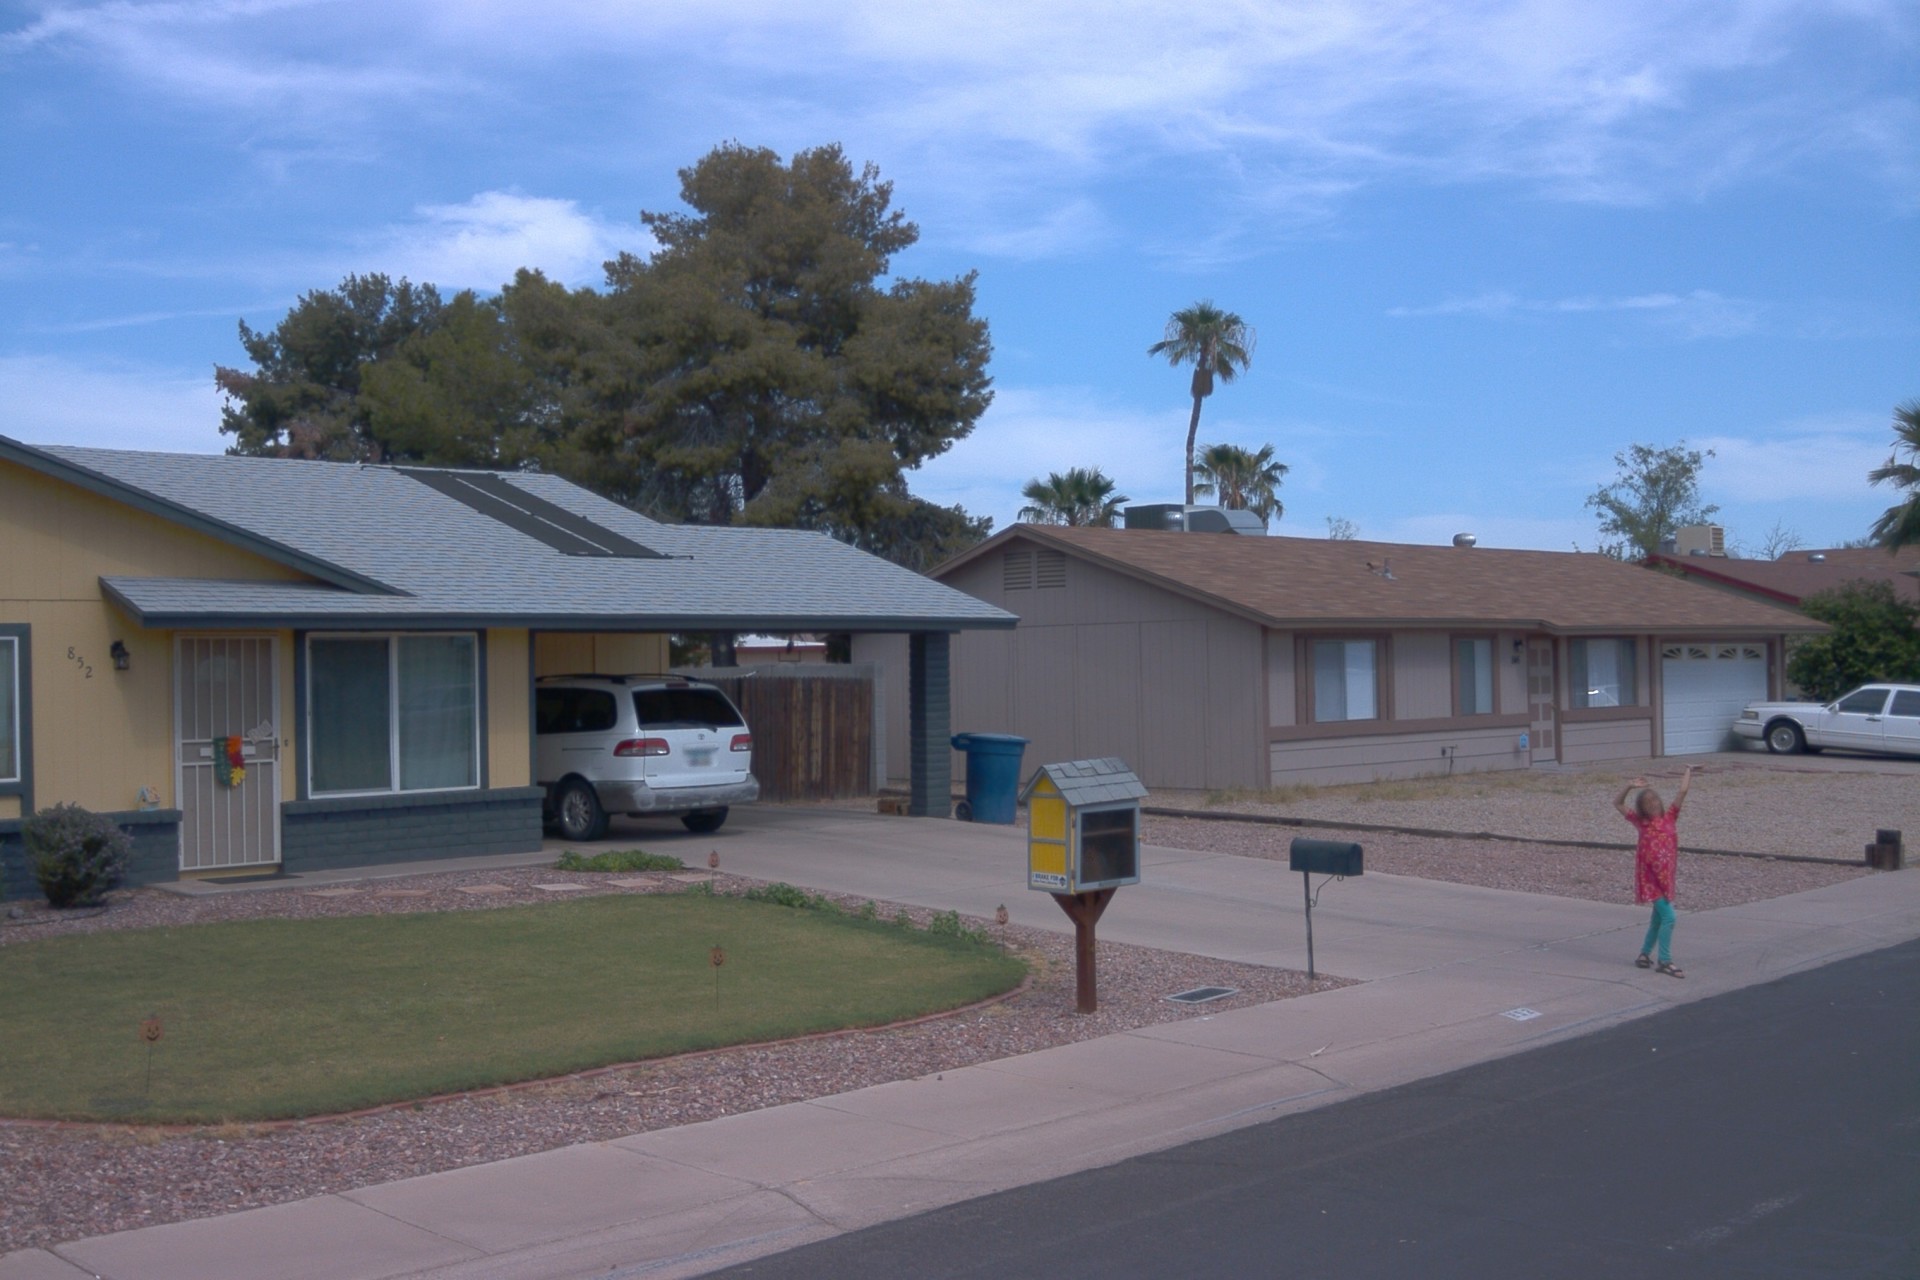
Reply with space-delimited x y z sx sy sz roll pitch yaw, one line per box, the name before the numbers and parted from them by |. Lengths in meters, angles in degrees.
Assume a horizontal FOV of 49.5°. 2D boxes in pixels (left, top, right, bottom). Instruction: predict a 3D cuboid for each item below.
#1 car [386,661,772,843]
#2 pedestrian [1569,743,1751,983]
car | -4.230 1.131 22.803 4.247 1.790 1.856 0 0 40
pedestrian | 4.908 1.542 14.681 1.019 1.580 0.959 0 0 5
